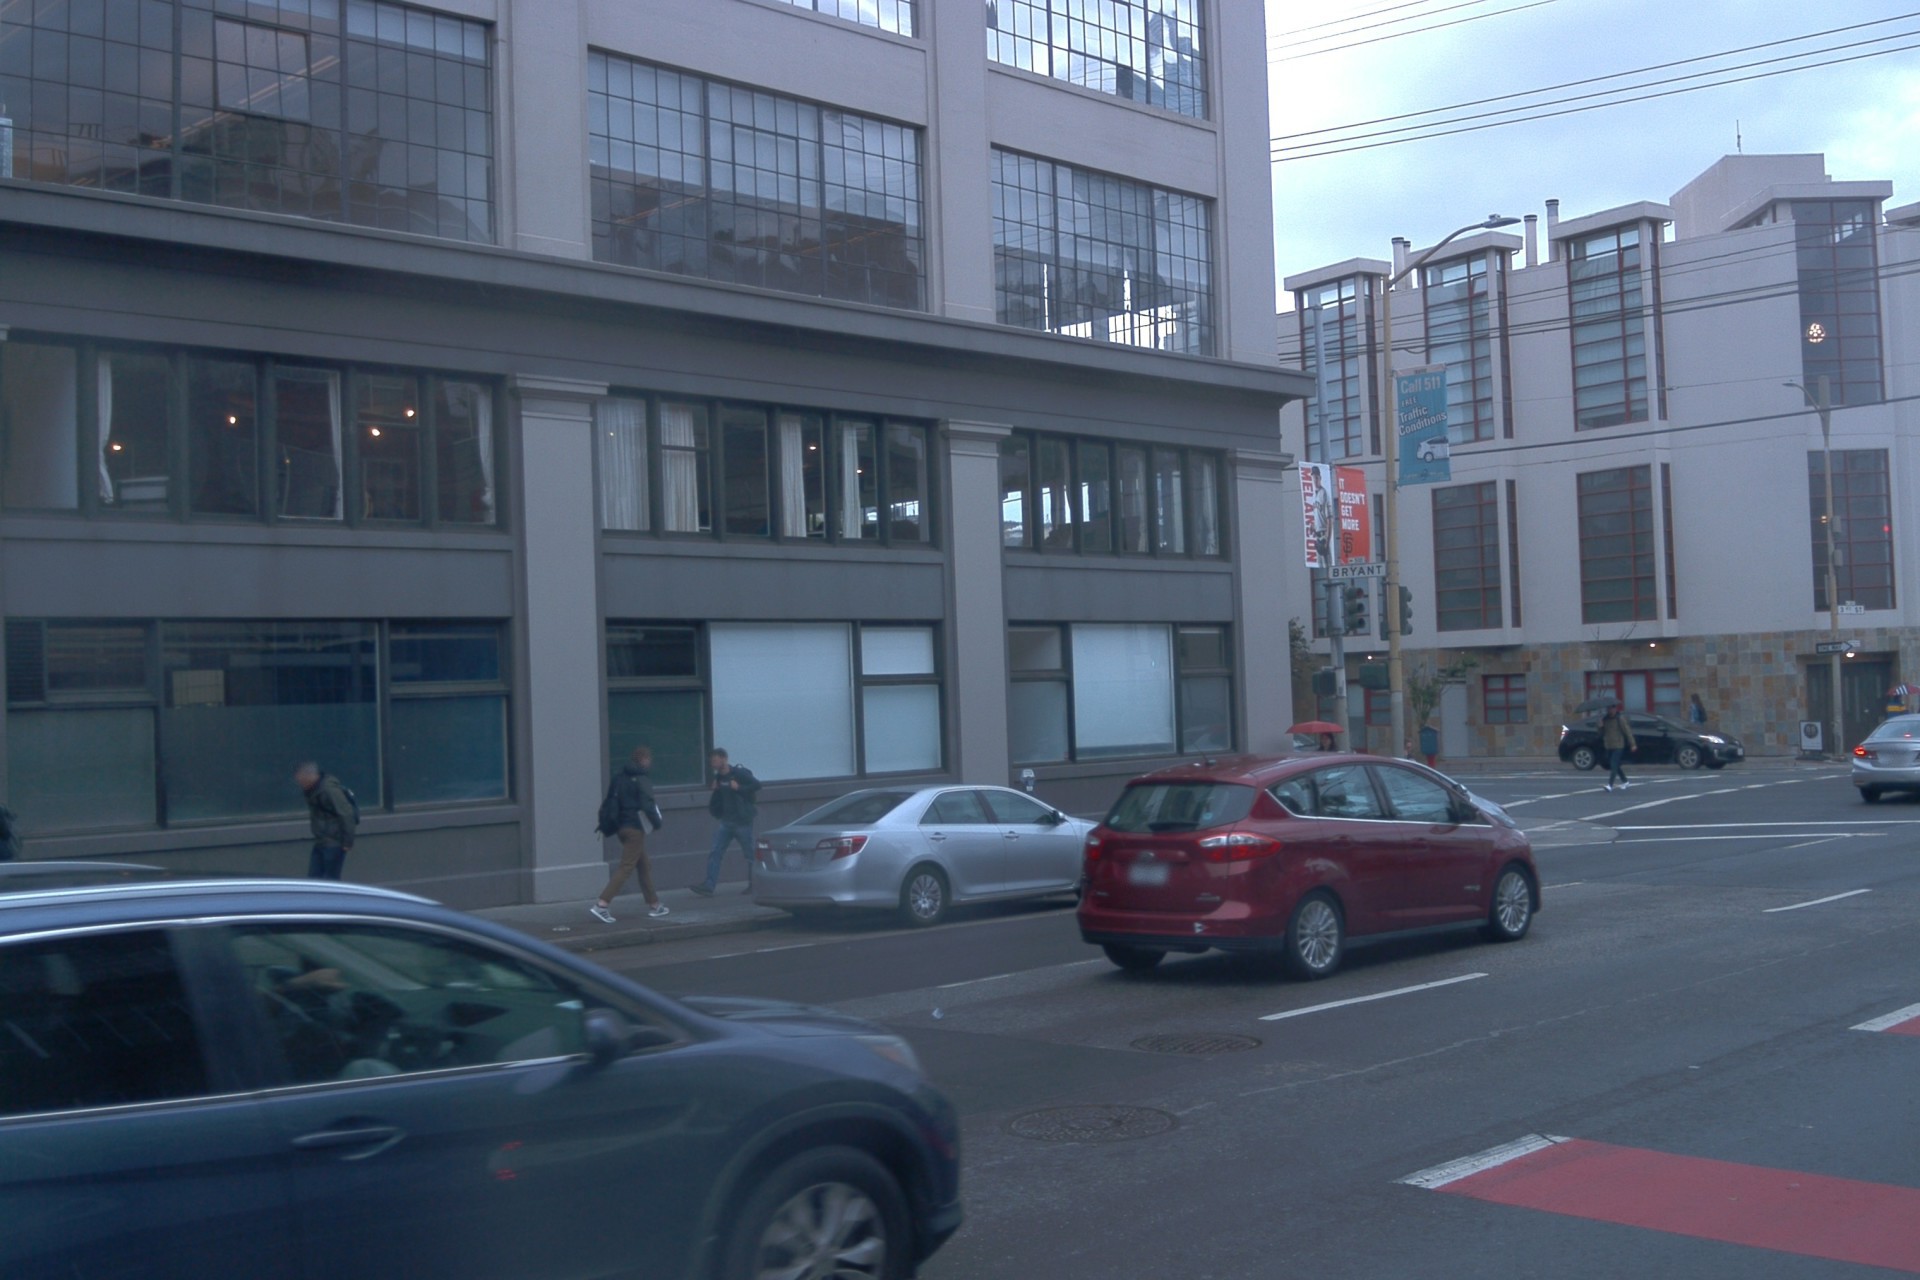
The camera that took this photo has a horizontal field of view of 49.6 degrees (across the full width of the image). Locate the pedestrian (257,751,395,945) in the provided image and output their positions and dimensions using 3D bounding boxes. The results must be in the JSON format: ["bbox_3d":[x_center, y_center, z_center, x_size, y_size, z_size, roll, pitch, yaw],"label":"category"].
[{"bbox_3d":[-6.323,2.044,20.754,0.851,1.800,1.024,0,0,44],"label":"pedestrian"}]

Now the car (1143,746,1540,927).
[{"bbox_3d":[4.264,2.053,22.771,2.043,1.540,4.613,0,0,44],"label":"car"}]

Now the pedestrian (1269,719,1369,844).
[{"bbox_3d":[5.758,2.247,33.371,1.124,1.900,1.157,0,0,45],"label":"pedestrian"}]

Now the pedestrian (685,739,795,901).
[{"bbox_3d":[-2.544,2.060,24.070,0.960,1.770,0.826,0,0,-44],"label":"pedestrian"}]

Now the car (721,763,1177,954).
[{"bbox_3d":[-0.004,2.265,22.669,2.014,1.570,4.989,0,0,45],"label":"car"}]

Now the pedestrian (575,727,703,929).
[{"bbox_3d":[-3.351,1.930,21.726,0.909,1.990,0.967,0,0,41],"label":"pedestrian"}]

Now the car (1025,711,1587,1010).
[{"bbox_3d":[2.822,1.550,16.212,2.079,1.830,4.598,0,0,44],"label":"car"}]
